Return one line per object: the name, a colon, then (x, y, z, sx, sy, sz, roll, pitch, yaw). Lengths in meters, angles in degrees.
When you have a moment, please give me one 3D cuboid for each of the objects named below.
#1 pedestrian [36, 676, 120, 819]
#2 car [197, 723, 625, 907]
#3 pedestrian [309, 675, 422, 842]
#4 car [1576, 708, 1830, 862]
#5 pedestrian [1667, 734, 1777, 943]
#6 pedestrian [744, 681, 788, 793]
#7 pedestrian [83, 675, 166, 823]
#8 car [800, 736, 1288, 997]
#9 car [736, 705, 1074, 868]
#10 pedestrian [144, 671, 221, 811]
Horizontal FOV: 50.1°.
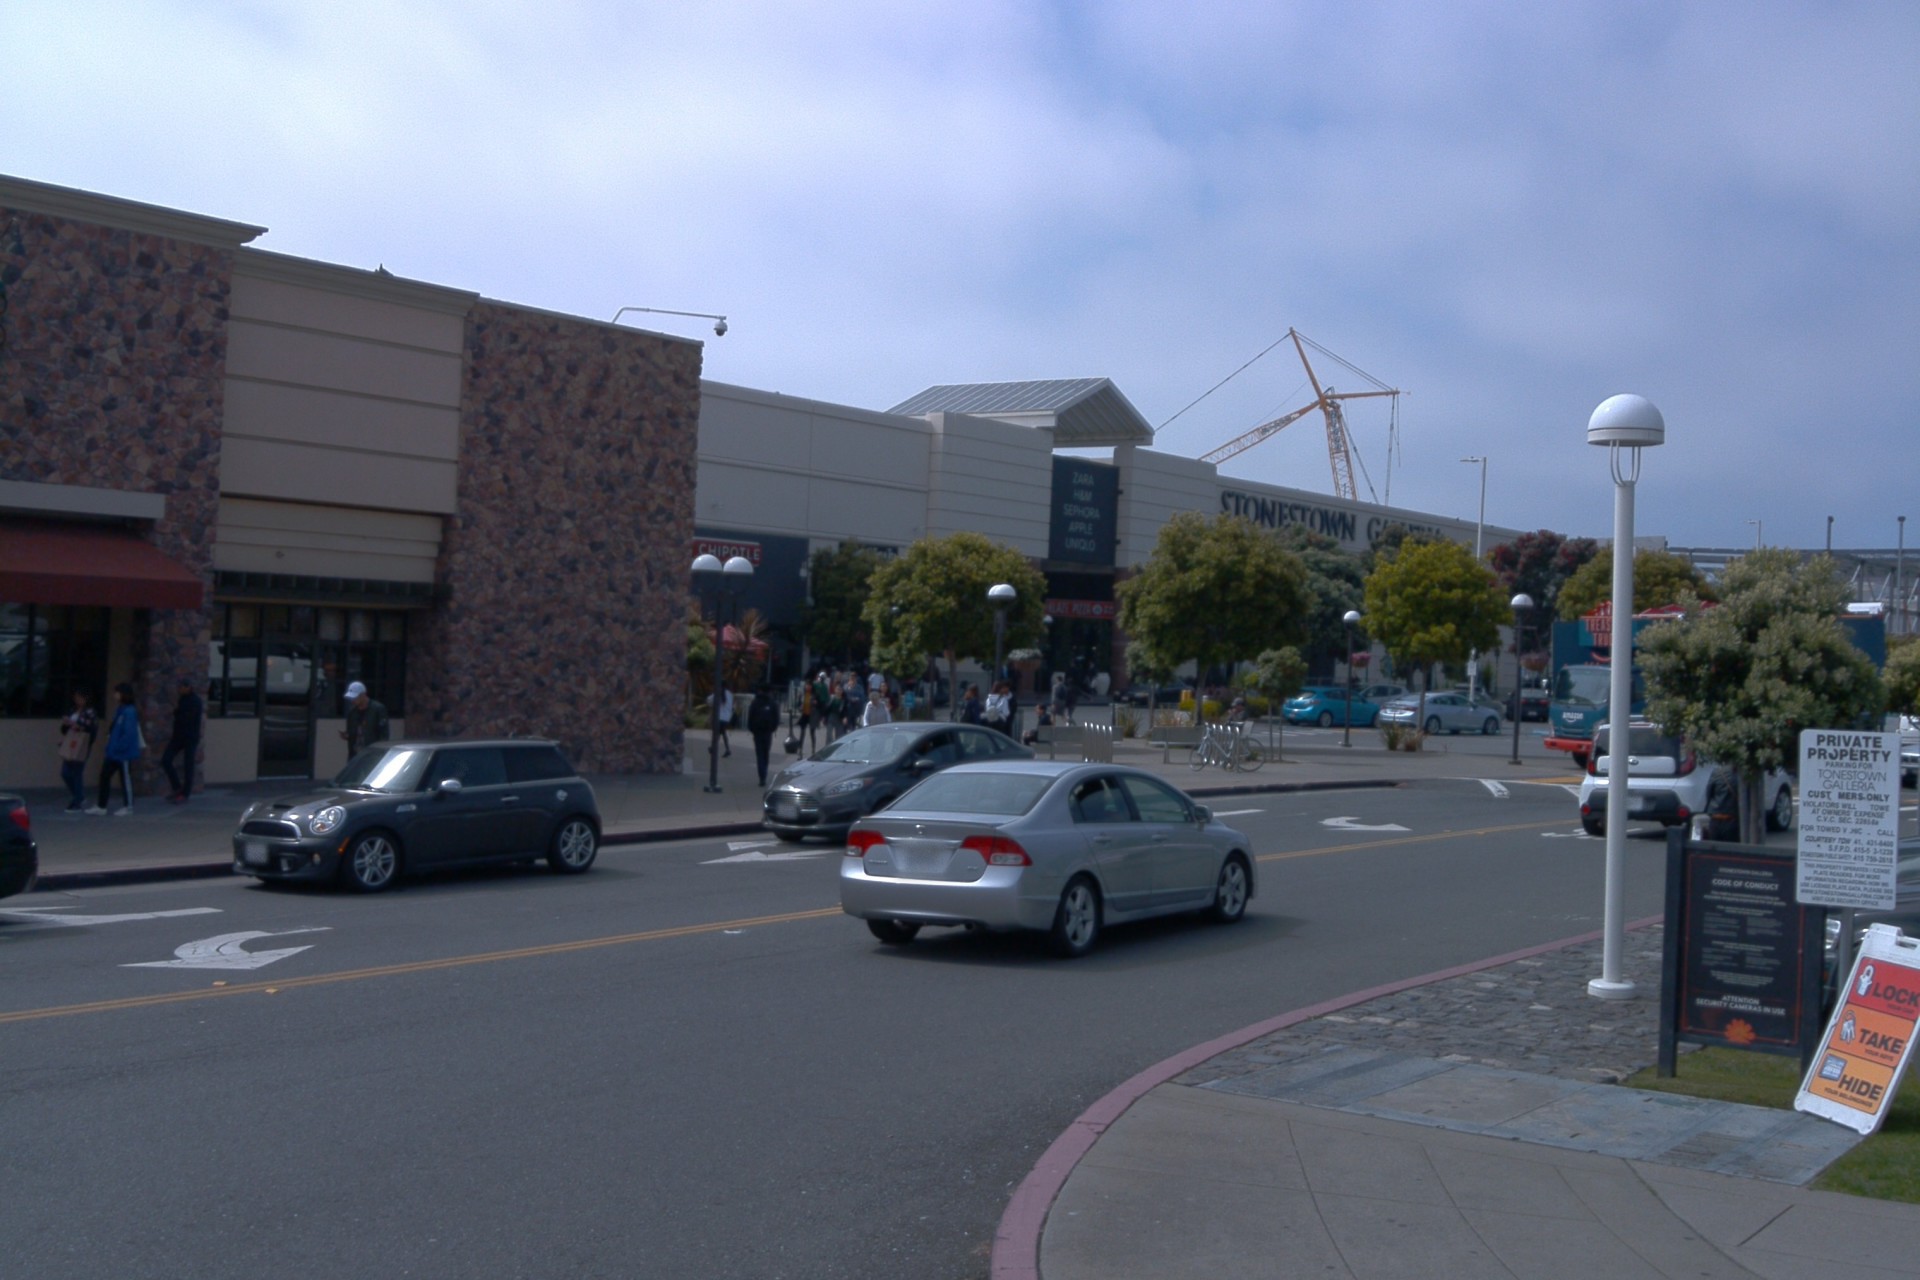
pedestrian: (-10.855, 1.310, 25.311, 0.724, 1.720, 0.619, 0, 0, 14)
car: (-5.296, 1.628, 20.169, 1.847, 1.422, 3.679, 0, 1, 39)
pedestrian: (-7.012, 1.379, 24.277, 0.944, 1.890, 0.861, 0, 0, 23)
car: (10.330, 1.927, 28.454, 1.882, 1.780, 4.021, 0, 1, 43)
pedestrian: (6.098, 1.567, 16.456, 0.633, 1.570, 0.734, 0, 0, 38)
pedestrian: (-3.190, 1.584, 33.744, 0.625, 1.780, 0.898, 0, 0, -12)
pedestrian: (-10.279, 1.329, 25.306, 0.724, 1.780, 0.619, 0, 0, 14)
car: (0.830, 1.672, 16.541, 2.058, 1.520, 4.318, 0, 1, 32)
car: (-0.584, 1.731, 25.614, 1.938, 1.640, 4.408, 0, 1, 36)
pedestrian: (-10.194, 1.306, 26.949, 0.679, 1.780, 0.696, 0, 0, 39)
